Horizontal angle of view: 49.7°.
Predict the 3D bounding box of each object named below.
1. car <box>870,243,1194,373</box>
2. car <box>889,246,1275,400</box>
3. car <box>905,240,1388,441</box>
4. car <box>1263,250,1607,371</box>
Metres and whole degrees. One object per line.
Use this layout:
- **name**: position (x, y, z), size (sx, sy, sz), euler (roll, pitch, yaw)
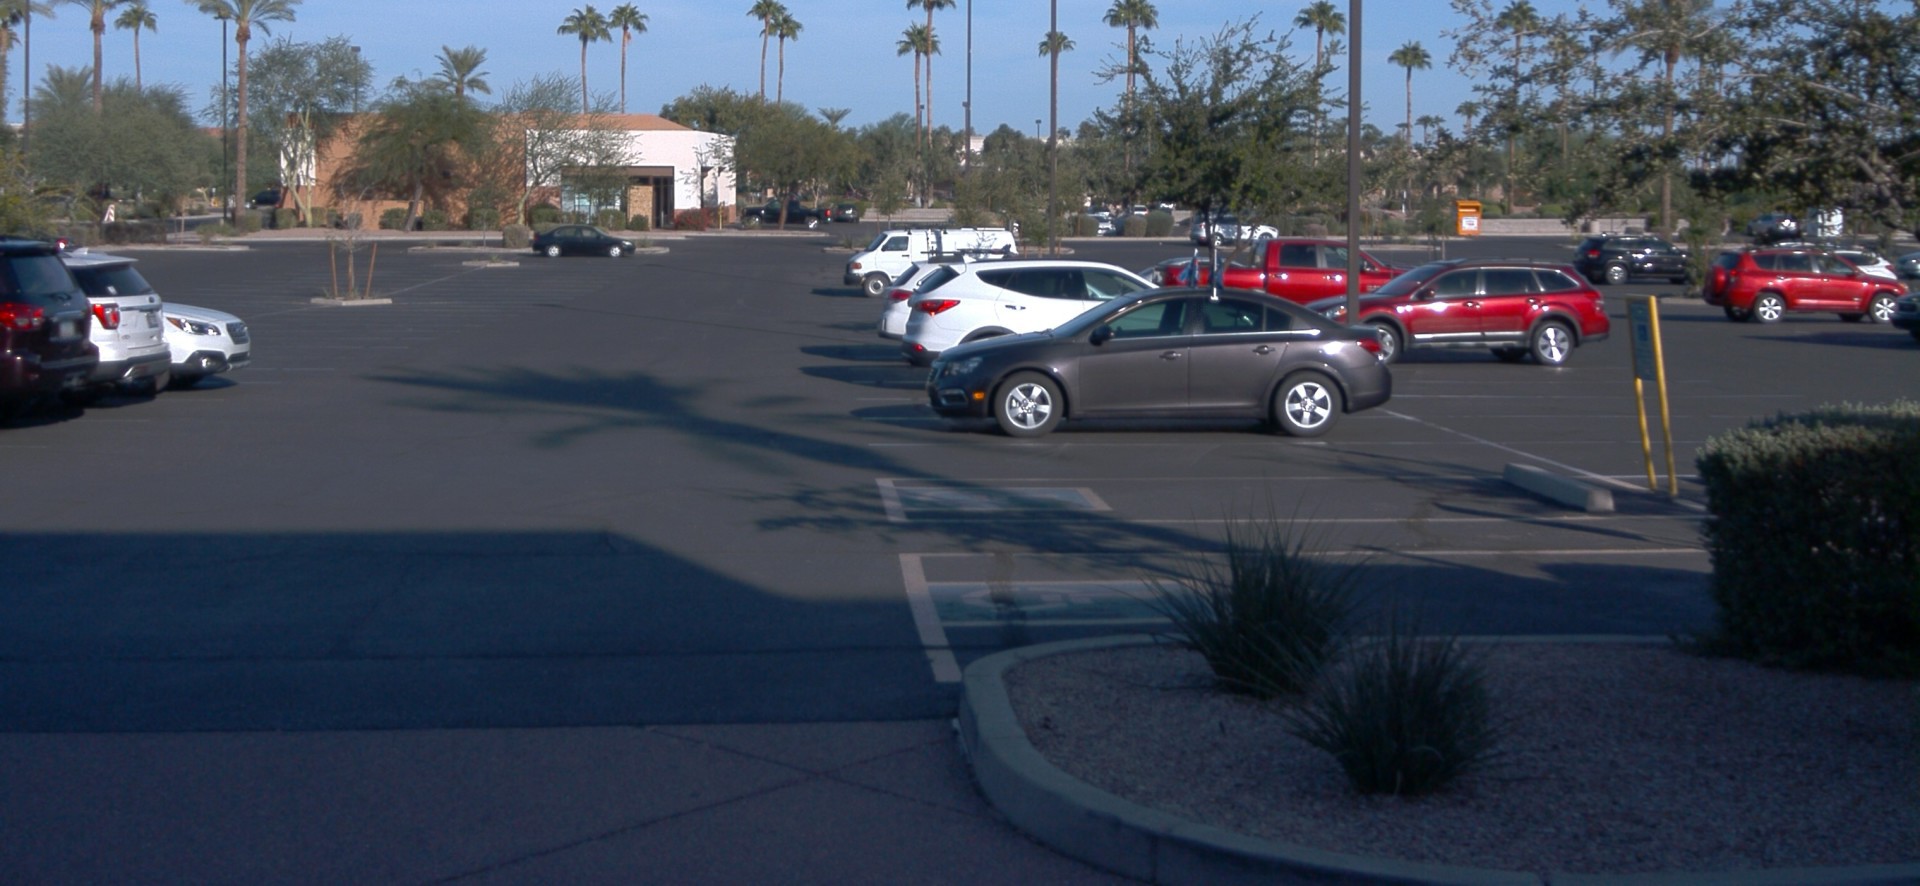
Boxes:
- **car**: position (1.041, -2.120, 32.003), size (4.850, 1.884, 2.126), euler (0, 4, -3)
- **car**: position (1.464, -1.569, 26.373), size (4.706, 1.804, 2.160), euler (0, 4, -3)
- **car**: position (1.784, -1.086, 20.951), size (4.638, 1.874, 2.011), euler (0, 4, -3)
- **car**: position (7.399, -2.121, 32.562), size (4.805, 1.735, 2.226), euler (-1, 5, -8)
